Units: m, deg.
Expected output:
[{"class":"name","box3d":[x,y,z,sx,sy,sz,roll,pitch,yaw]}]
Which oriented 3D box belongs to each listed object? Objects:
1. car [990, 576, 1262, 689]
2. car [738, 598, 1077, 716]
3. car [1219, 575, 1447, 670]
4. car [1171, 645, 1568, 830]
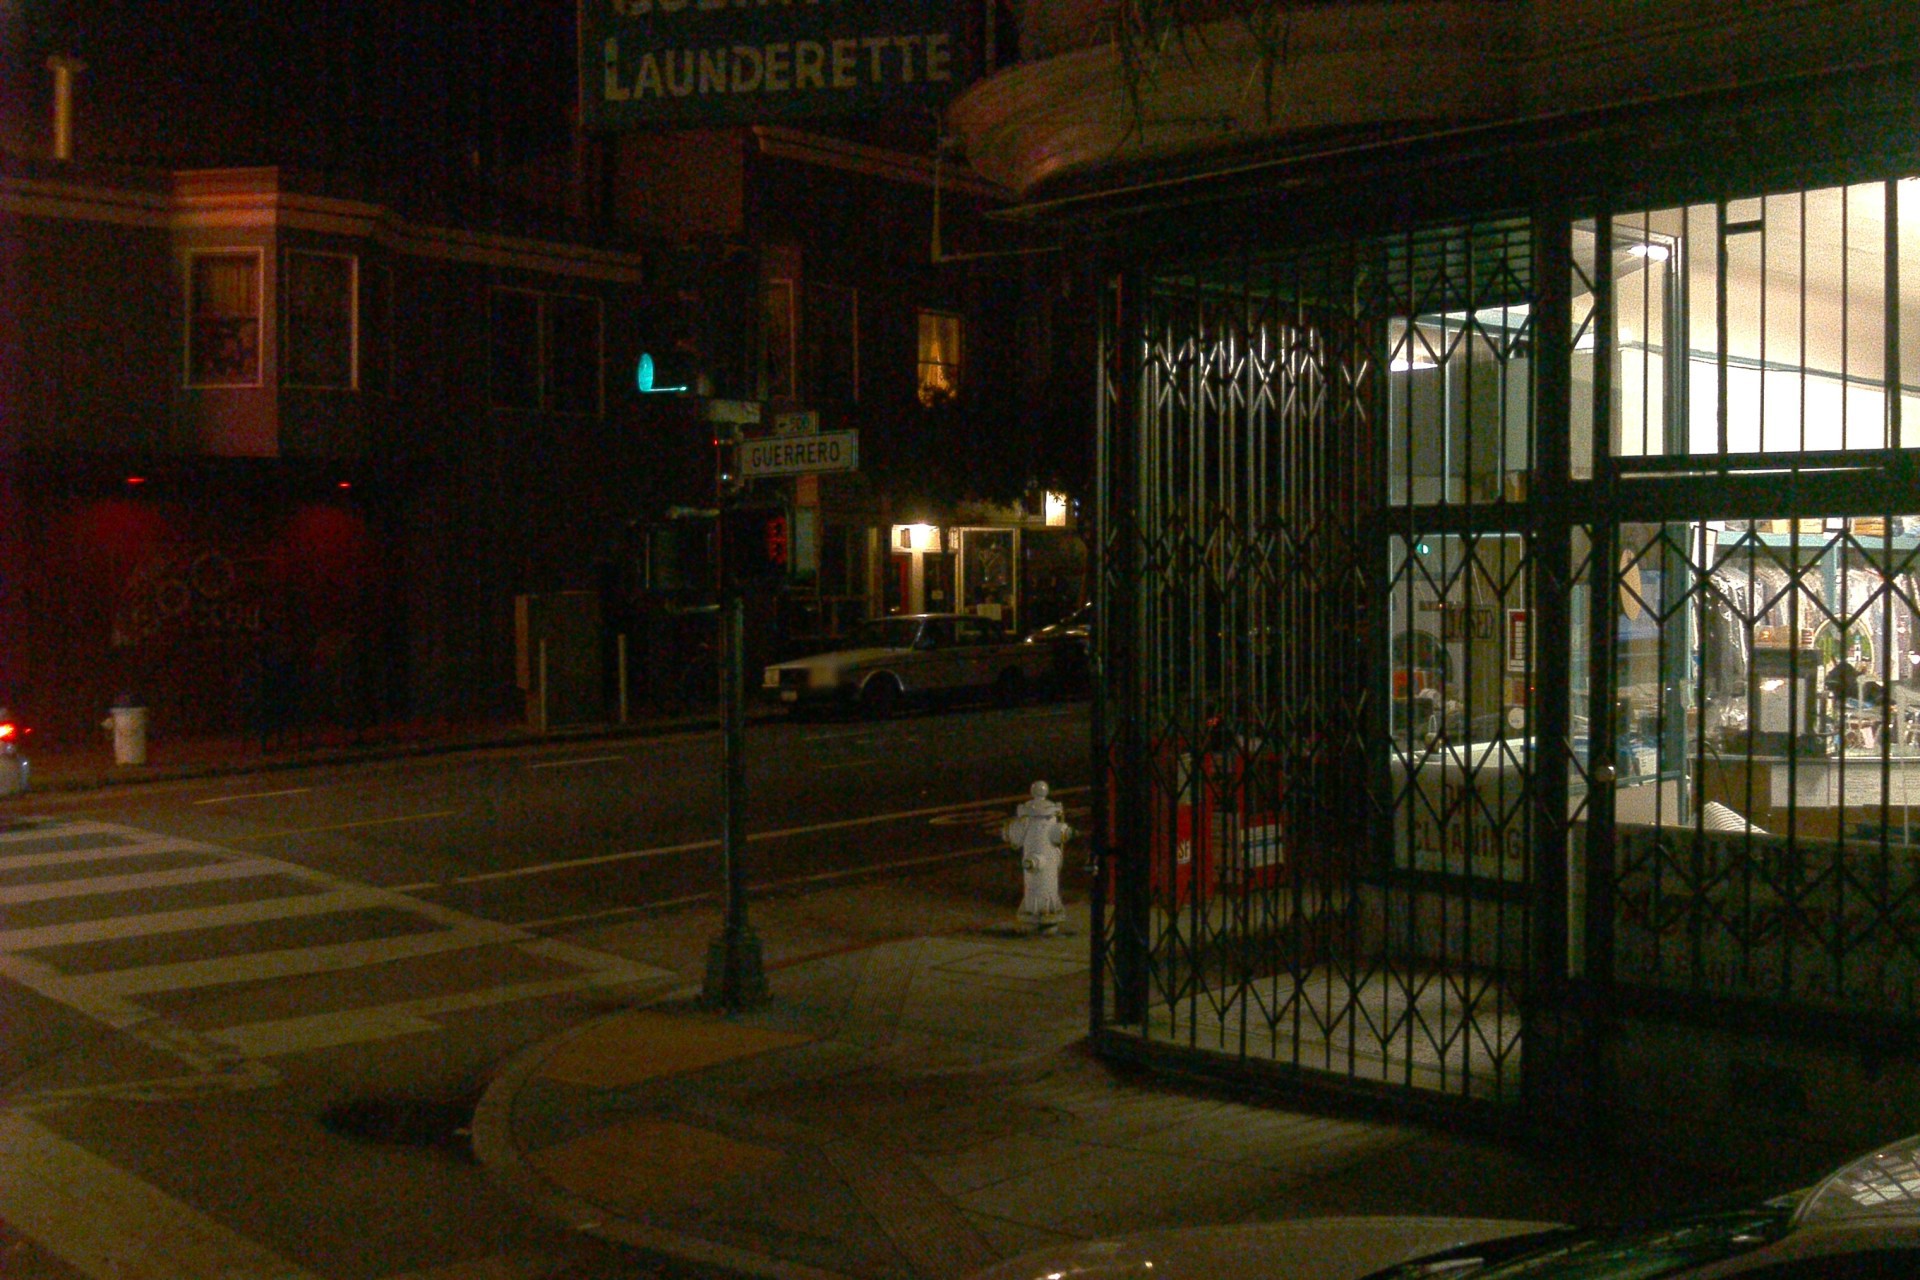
[{"class":"car","box3d":[2.702,-0.098,33.201,1.991,1.690,4.349,1,0,44]},{"class":"car","box3d":[-0.652,0.243,29.839,1.884,1.550,4.981,1,0,43]},{"class":"car","box3d":[6.680,-0.282,37.011,1.924,1.570,4.226,1,0,45]},{"class":"car","box3d":[3.605,0.783,18.001,3.504,1.420,1.655,1,0,-45]}]
